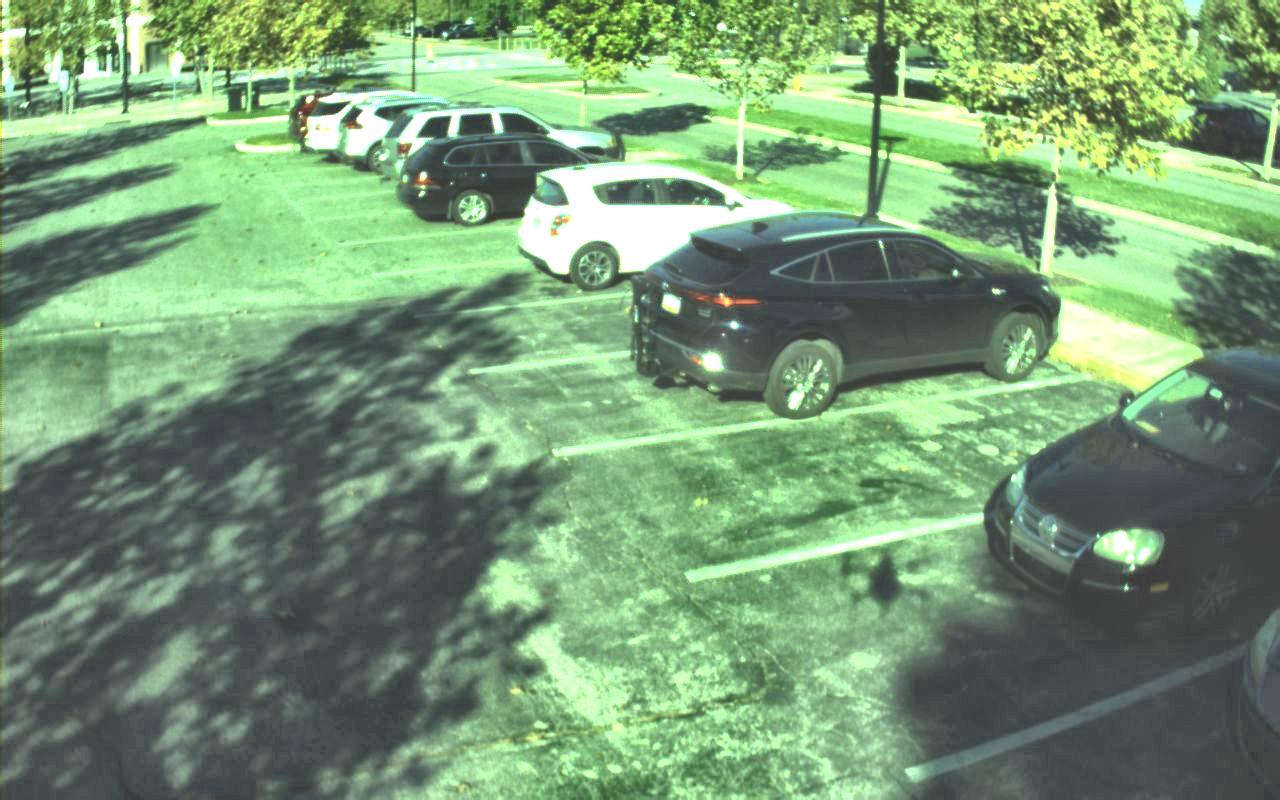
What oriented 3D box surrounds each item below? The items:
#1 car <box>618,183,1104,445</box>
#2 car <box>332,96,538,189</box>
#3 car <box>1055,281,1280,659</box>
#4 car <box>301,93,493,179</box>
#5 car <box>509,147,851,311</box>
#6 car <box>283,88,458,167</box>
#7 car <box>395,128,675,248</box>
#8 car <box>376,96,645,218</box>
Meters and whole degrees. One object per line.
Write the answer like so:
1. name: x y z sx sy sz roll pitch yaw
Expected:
1. car: 2.308 -1.044 12.345 4.627 1.744 1.991 -9 18 -25
2. car: -4.798 -6.023 28.629 4.467 1.704 1.961 -8 18 -22
3. car: 5.370 0.278 8.088 4.488 1.631 2.004 -7 17 -18
4. car: -6.139 -6.656 30.728 4.545 1.707 1.990 -8 18 -23
5. car: 0.573 -2.468 17.333 4.325 1.677 1.926 -8 18 -23
6. car: -7.417 -7.479 33.315 4.505 1.714 1.992 -9 18 -25
7. car: -1.858 -3.776 21.828 4.534 1.561 1.943 -8 18 -22
8. car: -2.561 -4.802 24.170 4.876 1.896 2.080 -7 17 -20
